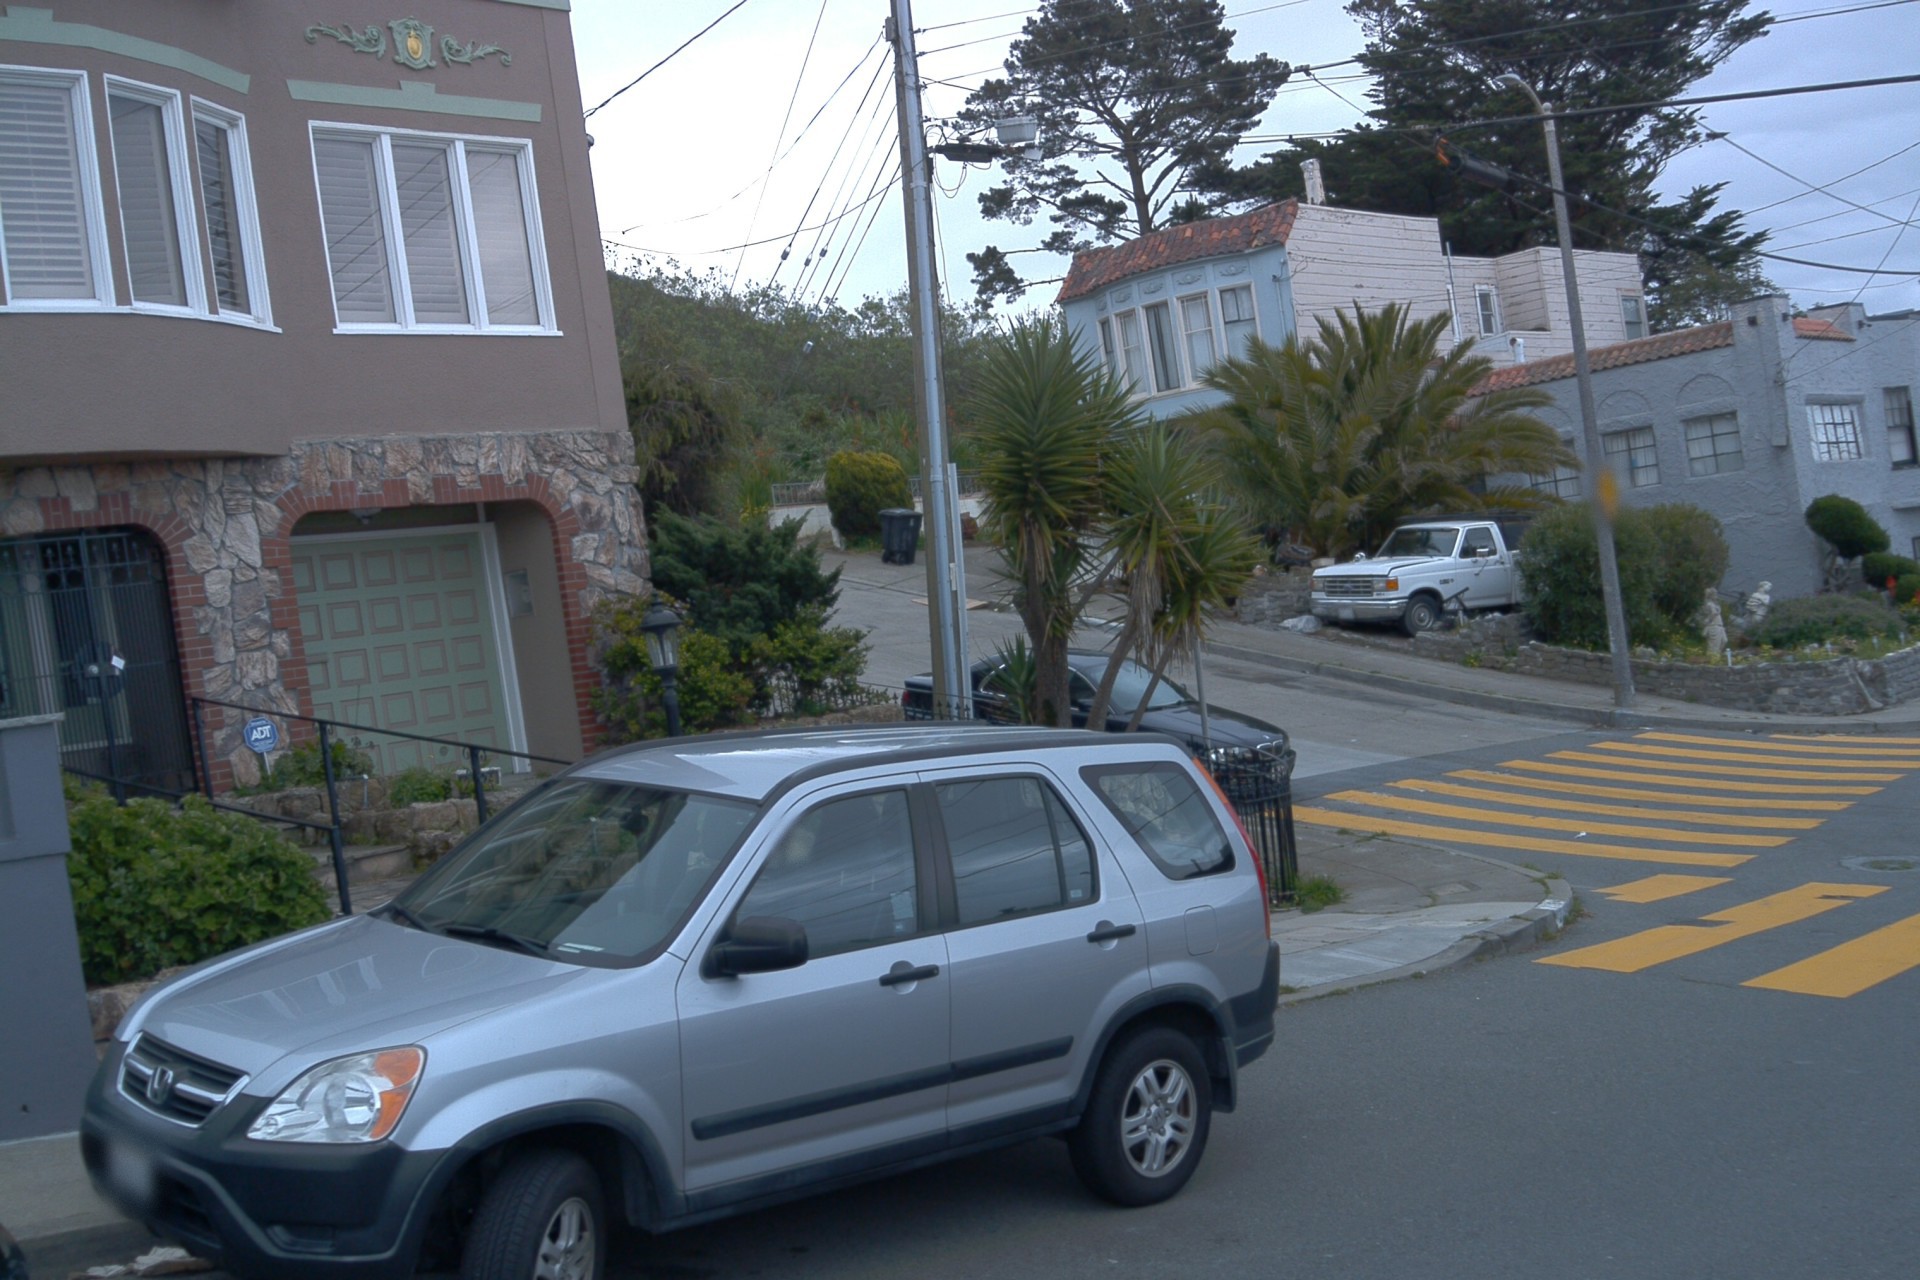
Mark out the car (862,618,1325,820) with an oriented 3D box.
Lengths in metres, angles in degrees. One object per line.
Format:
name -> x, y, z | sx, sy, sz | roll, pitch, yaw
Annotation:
car -> 1.331, 0.729, 21.669 | 4.570, 1.890, 2.007 | 1, 1, 40

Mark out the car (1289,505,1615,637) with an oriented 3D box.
car -> 8.095, -1.072, 33.591 | 5.126, 2.000, 2.229 | 0, 1, -32
